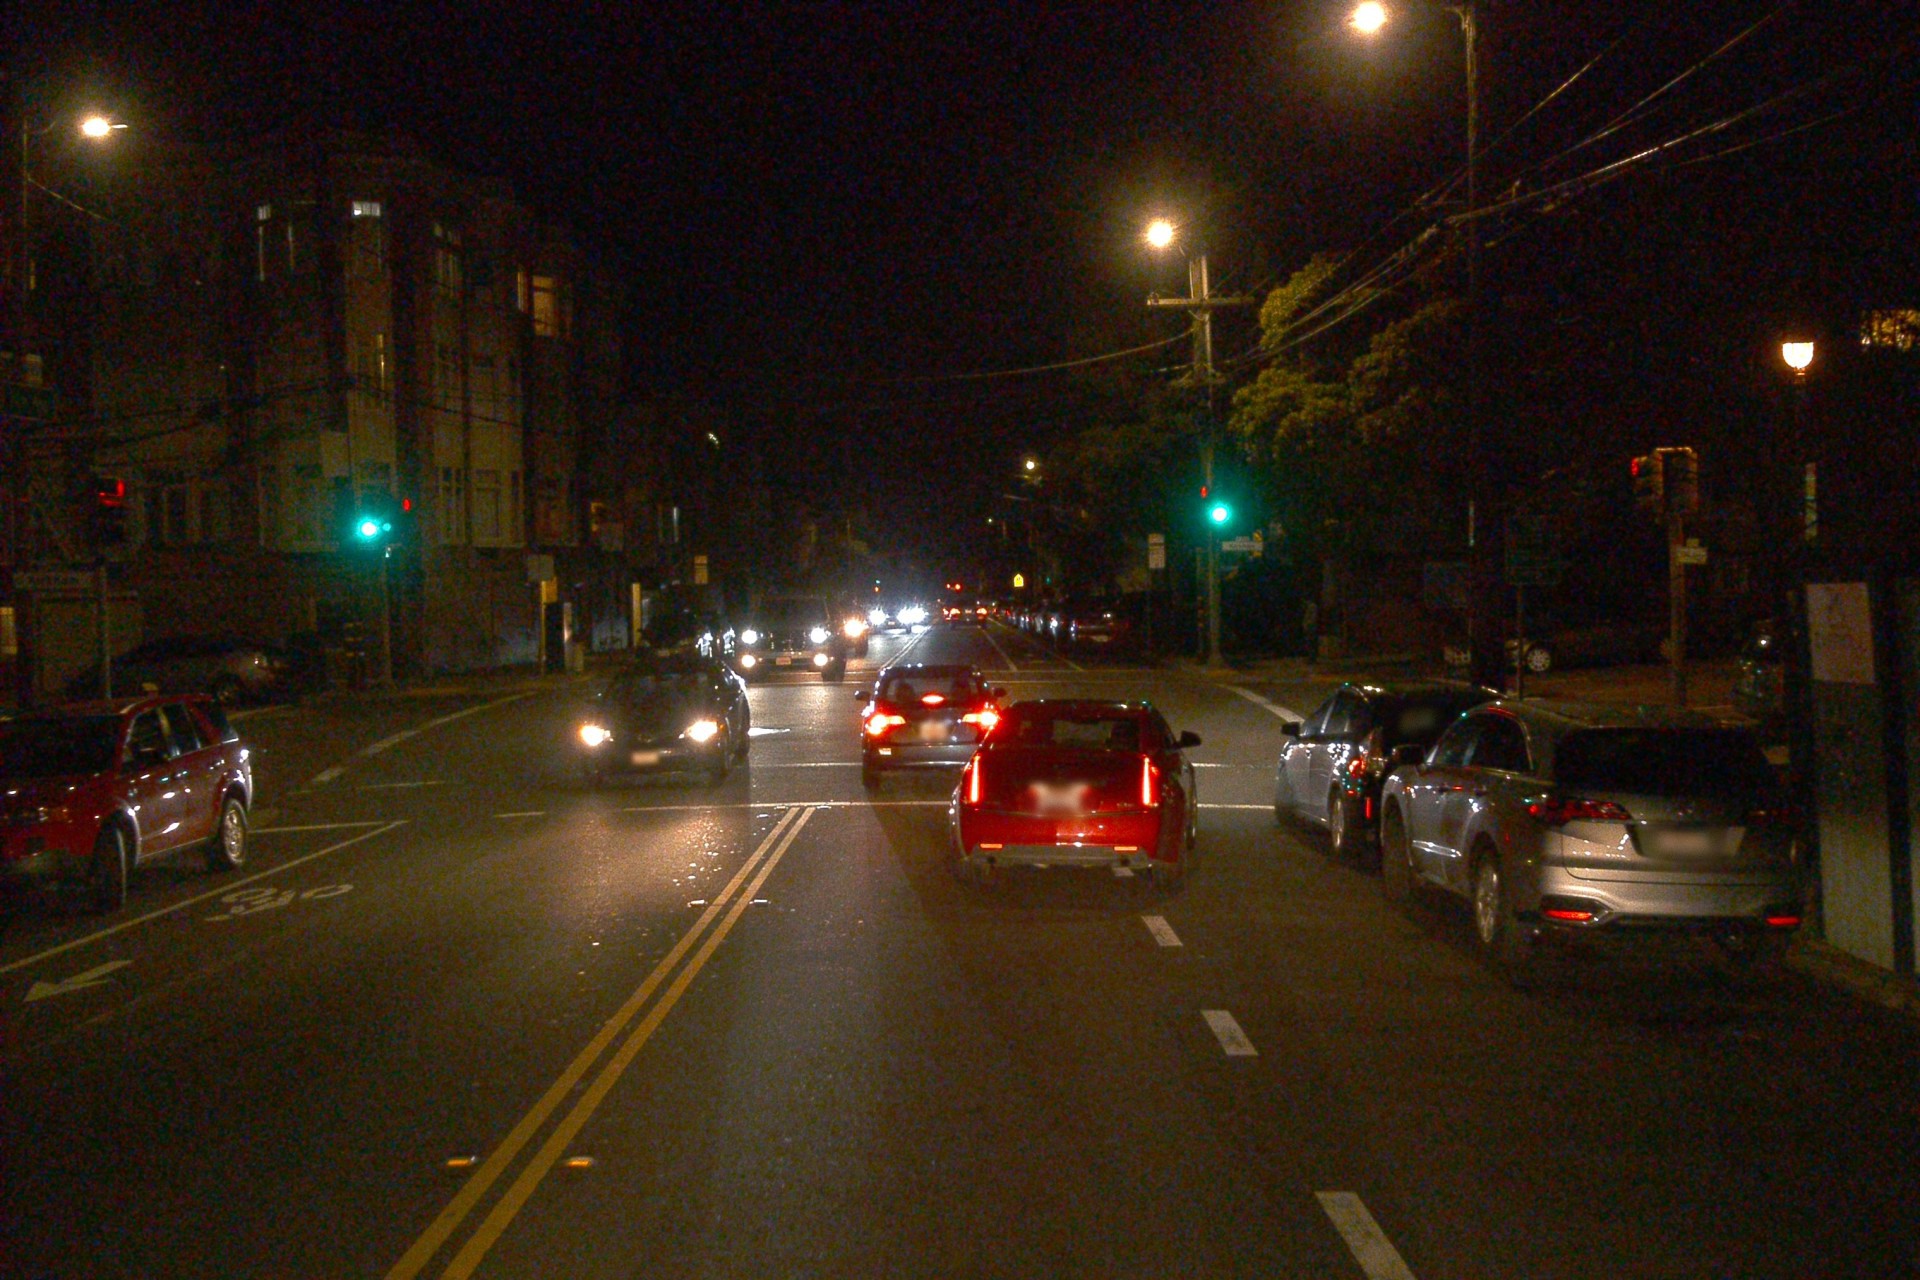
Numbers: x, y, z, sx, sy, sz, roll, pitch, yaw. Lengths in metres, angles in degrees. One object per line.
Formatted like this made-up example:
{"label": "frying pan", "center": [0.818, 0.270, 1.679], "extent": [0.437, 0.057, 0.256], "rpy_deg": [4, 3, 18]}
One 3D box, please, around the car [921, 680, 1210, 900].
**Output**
{"label": "car", "center": [1.040, 1.146, 17.367], "extent": [2.068, 1.490, 4.415], "rpy_deg": [1, 0, 8]}

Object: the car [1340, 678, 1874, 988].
{"label": "car", "center": [4.243, 1.178, 14.392], "extent": [2.250, 1.690, 4.769], "rpy_deg": [1, 0, 0]}

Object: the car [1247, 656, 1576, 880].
{"label": "car", "center": [4.170, 1.111, 19.706], "extent": [2.084, 1.830, 4.587], "rpy_deg": [1, 0, -1]}

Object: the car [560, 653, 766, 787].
{"label": "car", "center": [-3.866, 0.995, 27.453], "extent": [2.084, 1.570, 4.662], "rpy_deg": [1, 0, 0]}

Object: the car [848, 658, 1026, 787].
{"label": "car", "center": [-0.347, 0.987, 26.232], "extent": [2.070, 1.420, 4.588], "rpy_deg": [0, 0, -2]}
